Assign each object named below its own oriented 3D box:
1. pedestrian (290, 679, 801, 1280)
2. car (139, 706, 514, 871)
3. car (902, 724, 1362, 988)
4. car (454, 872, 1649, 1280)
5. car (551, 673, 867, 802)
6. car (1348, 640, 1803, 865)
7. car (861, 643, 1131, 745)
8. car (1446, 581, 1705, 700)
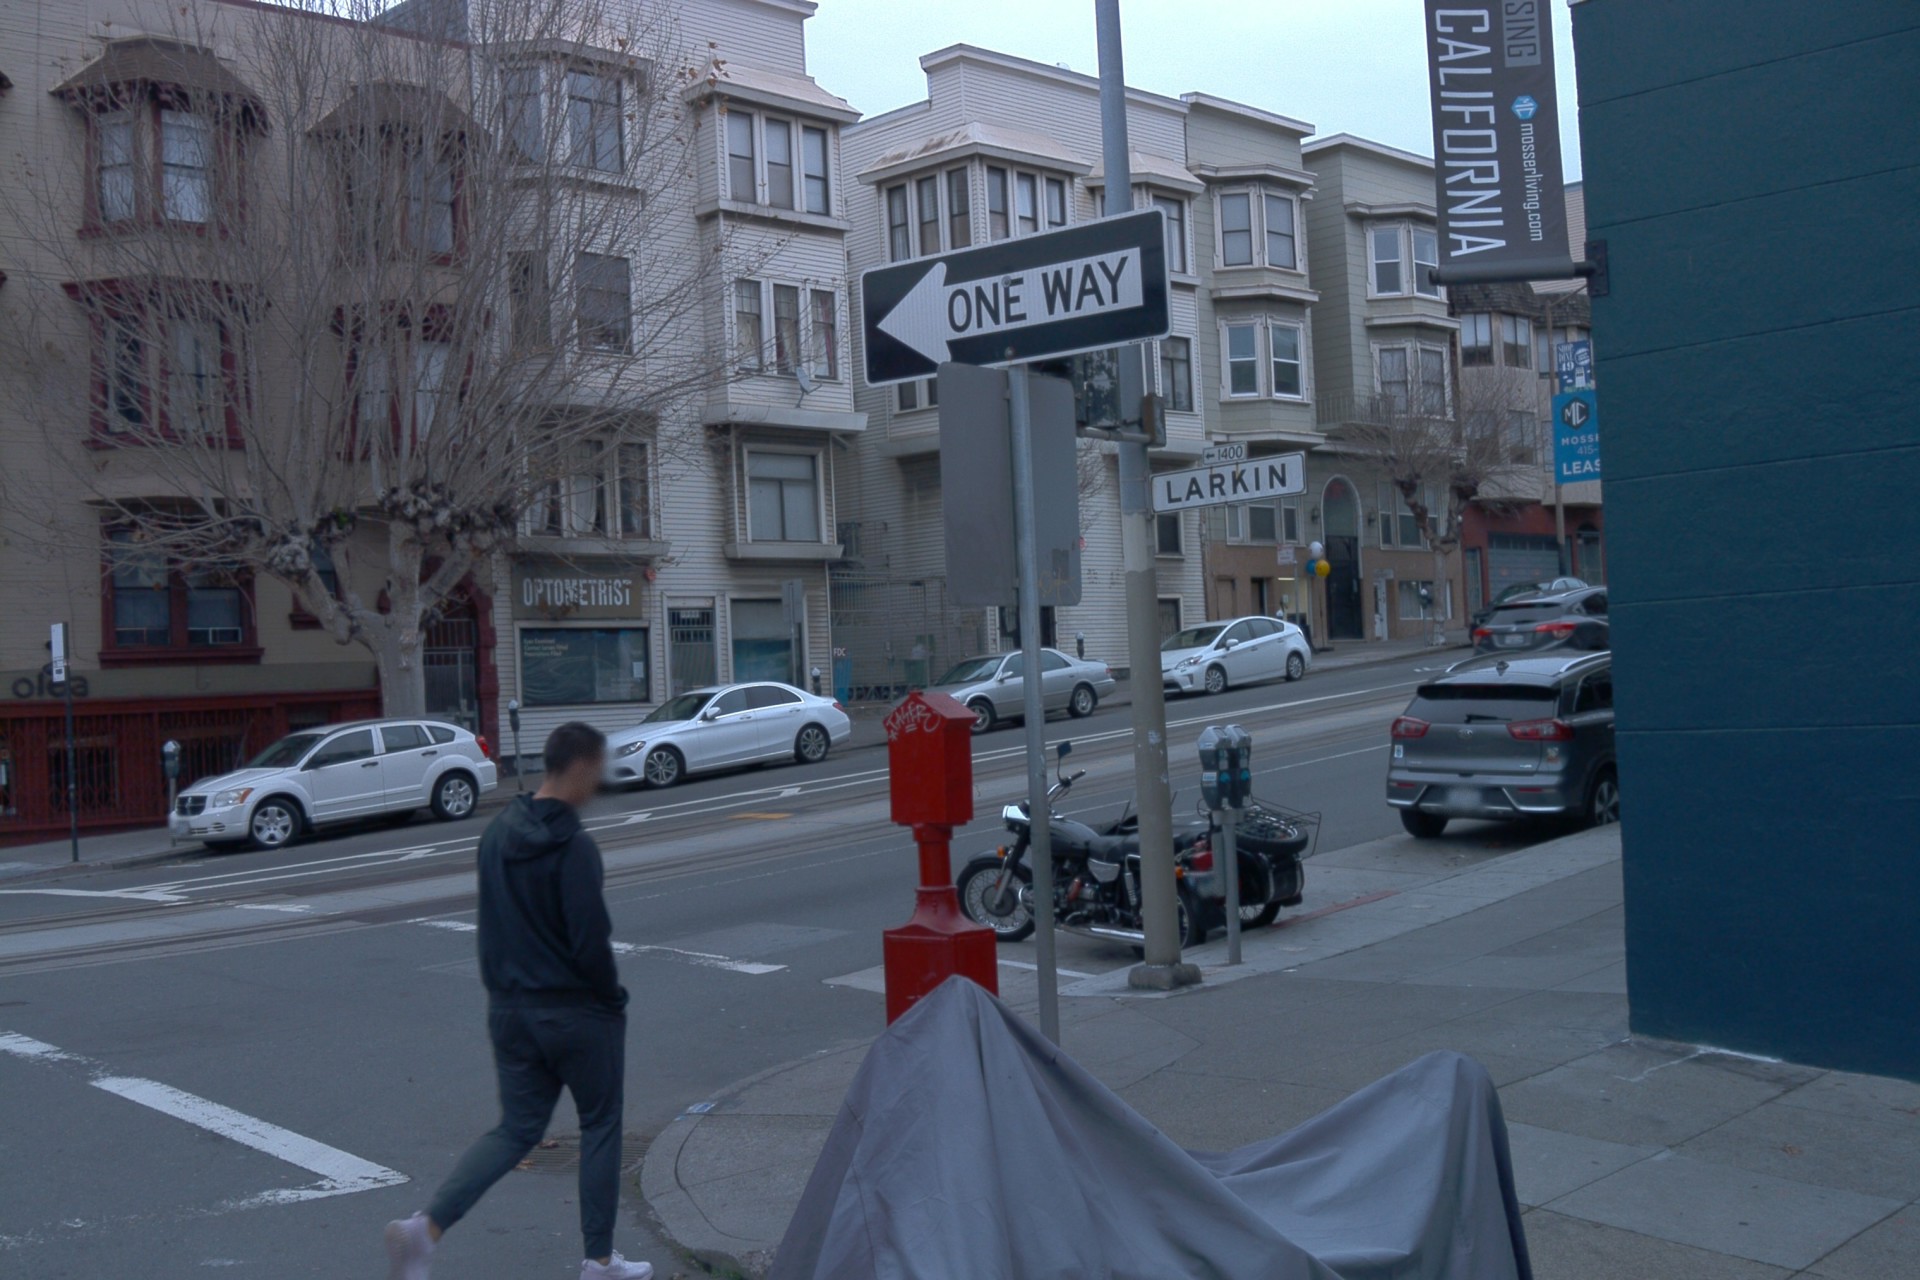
[{"bbox_3d":[-1.350,1.185,6.875,0.822,2.066,1.450,1,1,44],"label":"pedestrian"},{"bbox_3d":[-8.481,1.914,27.920,2.053,1.847,4.407,1,1,44],"label":"car"},{"bbox_3d":[1.133,1.376,14.055,2.745,1.460,1.540,0,1,42],"label":"car"},{"bbox_3d":[0.332,1.392,4.286,2.490,1.520,1.048,-1,1,-44],"label":"car"},{"bbox_3d":[-3.872,1.461,32.362,4.589,1.757,2.074,-1,1,-44],"label":"car"},{"bbox_3d":[5.645,0.880,18.584,2.132,1.717,4.606,0,1,42],"label":"car"},{"bbox_3d":[0.712,0.913,37.121,4.801,1.657,2.084,-1,1,-45],"label":"car"},{"bbox_3d":[9.605,-0.020,32.070,2.054,1.720,4.338,1,1,45],"label":"car"}]
